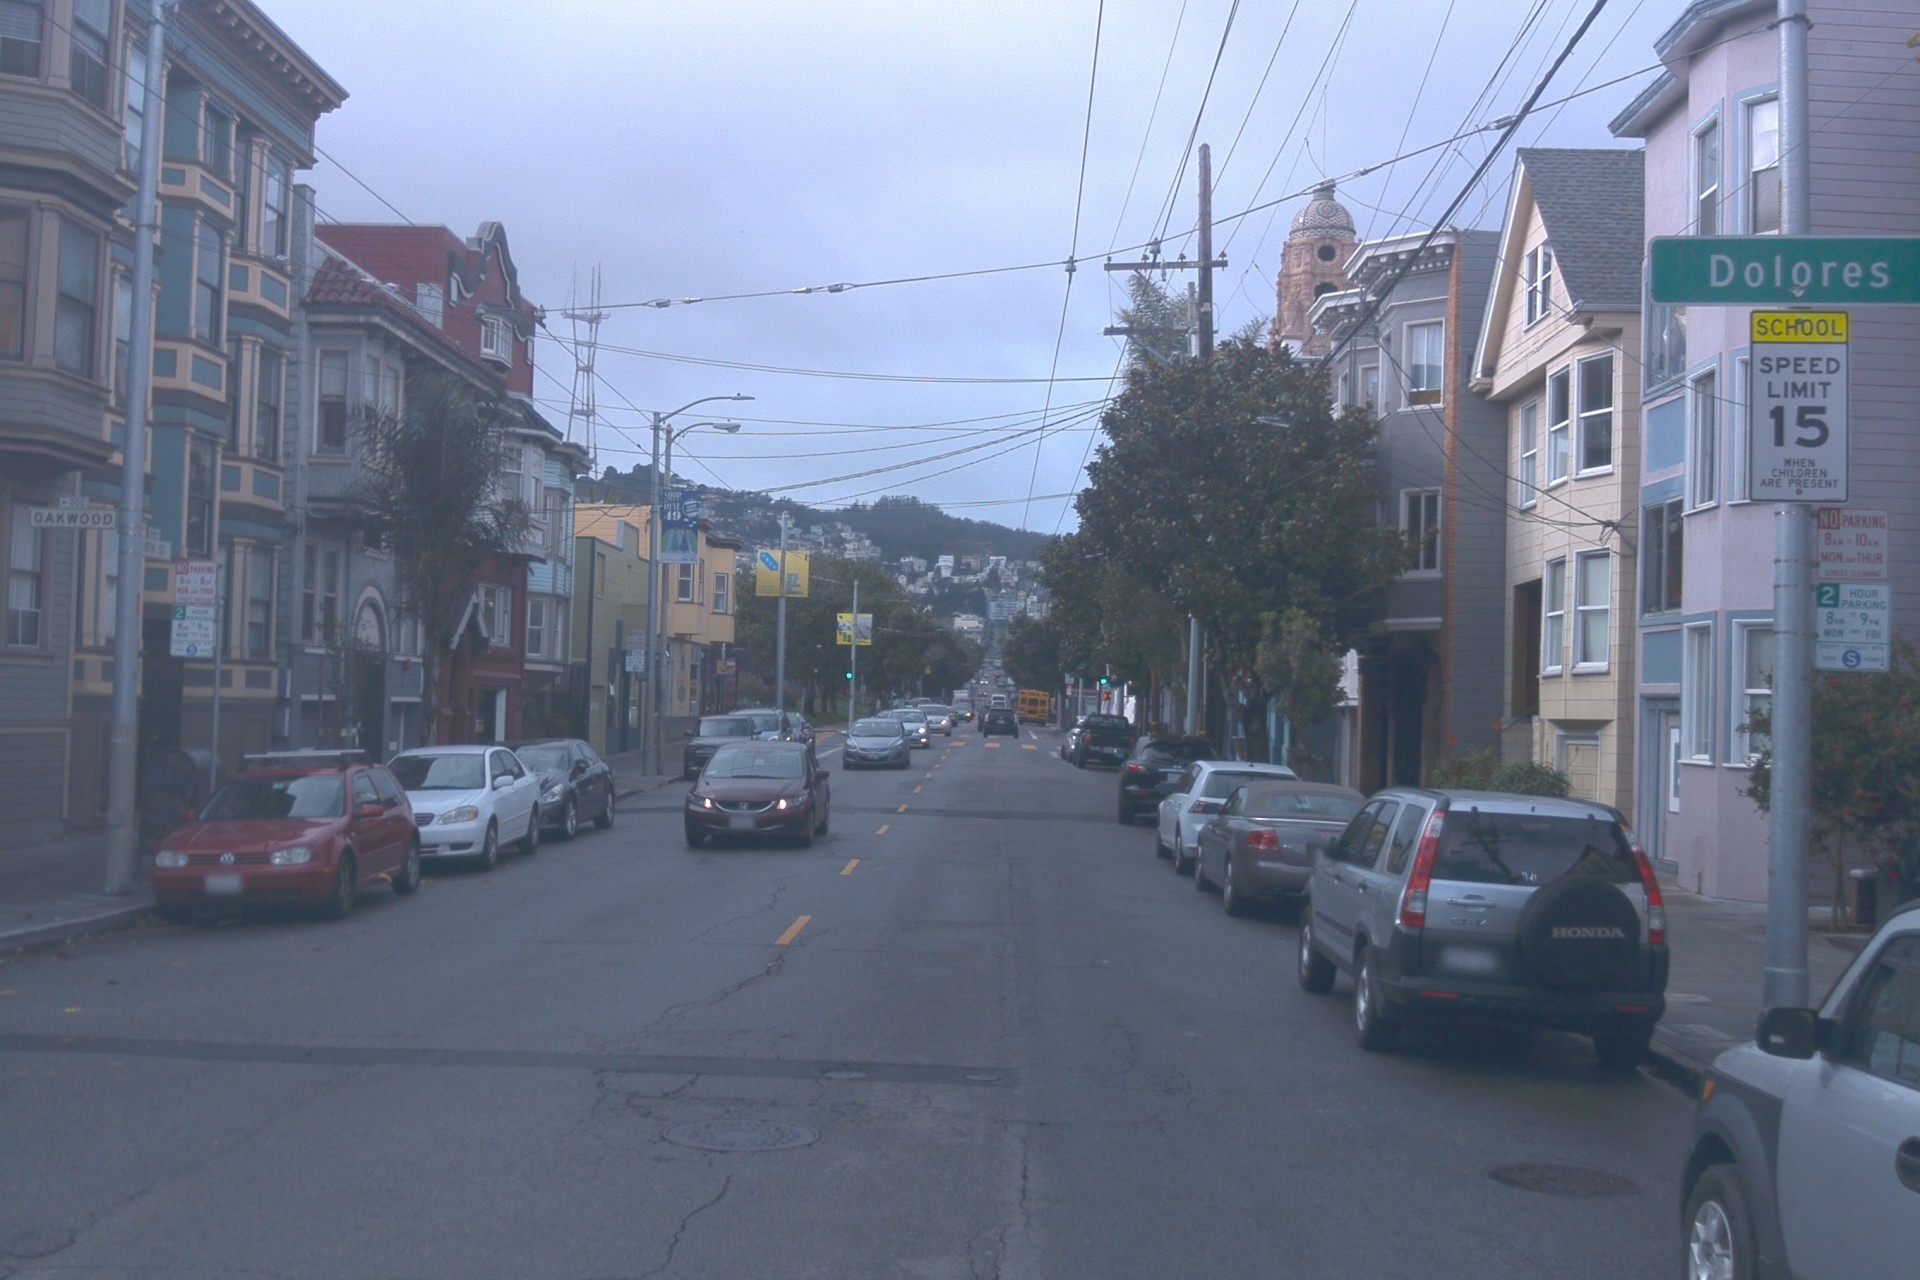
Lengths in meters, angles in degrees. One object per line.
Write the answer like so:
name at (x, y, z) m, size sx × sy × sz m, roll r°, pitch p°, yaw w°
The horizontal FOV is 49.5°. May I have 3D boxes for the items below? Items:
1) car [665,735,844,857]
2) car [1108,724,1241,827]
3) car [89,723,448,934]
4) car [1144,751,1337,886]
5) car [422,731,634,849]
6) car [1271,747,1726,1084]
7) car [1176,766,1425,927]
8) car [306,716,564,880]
car at (-2.842, 2.159, 29.780) m, size 2.026 × 1.500 × 4.411 m, roll 1°, pitch -2°, yaw 1°
car at (3.856, 2.430, 38.205) m, size 2.175 × 1.670 × 4.766 m, roll 1°, pitch -2°, yaw 3°
car at (-6.546, 1.724, 20.287) m, size 2.041 × 1.750 × 4.256 m, roll 1°, pitch -2°, yaw 0°
car at (3.609, 2.291, 27.557) m, size 2.058 × 1.500 × 4.269 m, roll 1°, pitch -2°, yaw 1°
car at (-6.378, 2.187, 31.358) m, size 2.084 × 1.520 × 4.744 m, roll 1°, pitch -2°, yaw 1°
car at (3.500, 1.729, 14.500) m, size 2.068 × 1.820 × 4.575 m, roll 1°, pitch -2°, yaw 1°
car at (3.570, 2.151, 22.643) m, size 1.962 × 1.390 × 4.511 m, roll 1°, pitch -2°, yaw 0°
car at (-6.383, 1.874, 25.915) m, size 2.041 × 1.780 × 4.511 m, roll 1°, pitch -2°, yaw 0°
